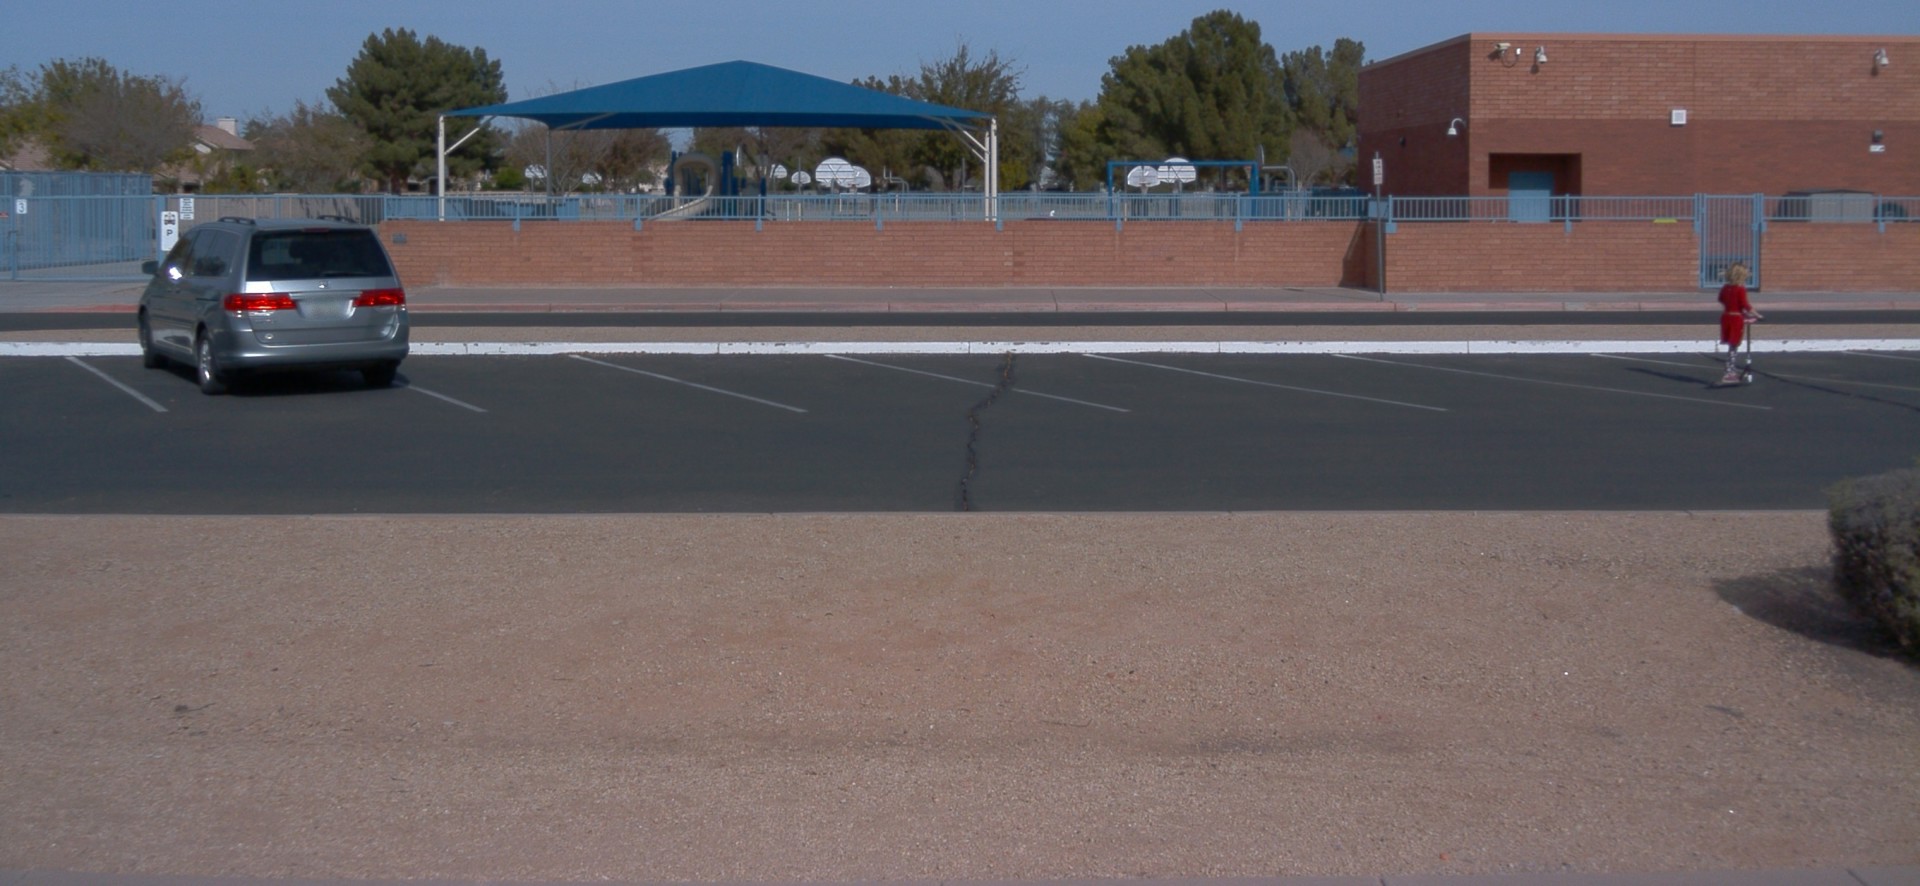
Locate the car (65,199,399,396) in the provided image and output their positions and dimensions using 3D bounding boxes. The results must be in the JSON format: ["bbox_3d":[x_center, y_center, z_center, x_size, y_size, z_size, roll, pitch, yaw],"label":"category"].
[{"bbox_3d":[-7.961,-1.625,22.445,2.260,1.855,4.995,-2,5,-33],"label":"car"}]

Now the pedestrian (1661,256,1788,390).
[{"bbox_3d":[7.876,-1.255,21.473,1.101,1.350,0.614,-1,1,-23],"label":"pedestrian"}]
